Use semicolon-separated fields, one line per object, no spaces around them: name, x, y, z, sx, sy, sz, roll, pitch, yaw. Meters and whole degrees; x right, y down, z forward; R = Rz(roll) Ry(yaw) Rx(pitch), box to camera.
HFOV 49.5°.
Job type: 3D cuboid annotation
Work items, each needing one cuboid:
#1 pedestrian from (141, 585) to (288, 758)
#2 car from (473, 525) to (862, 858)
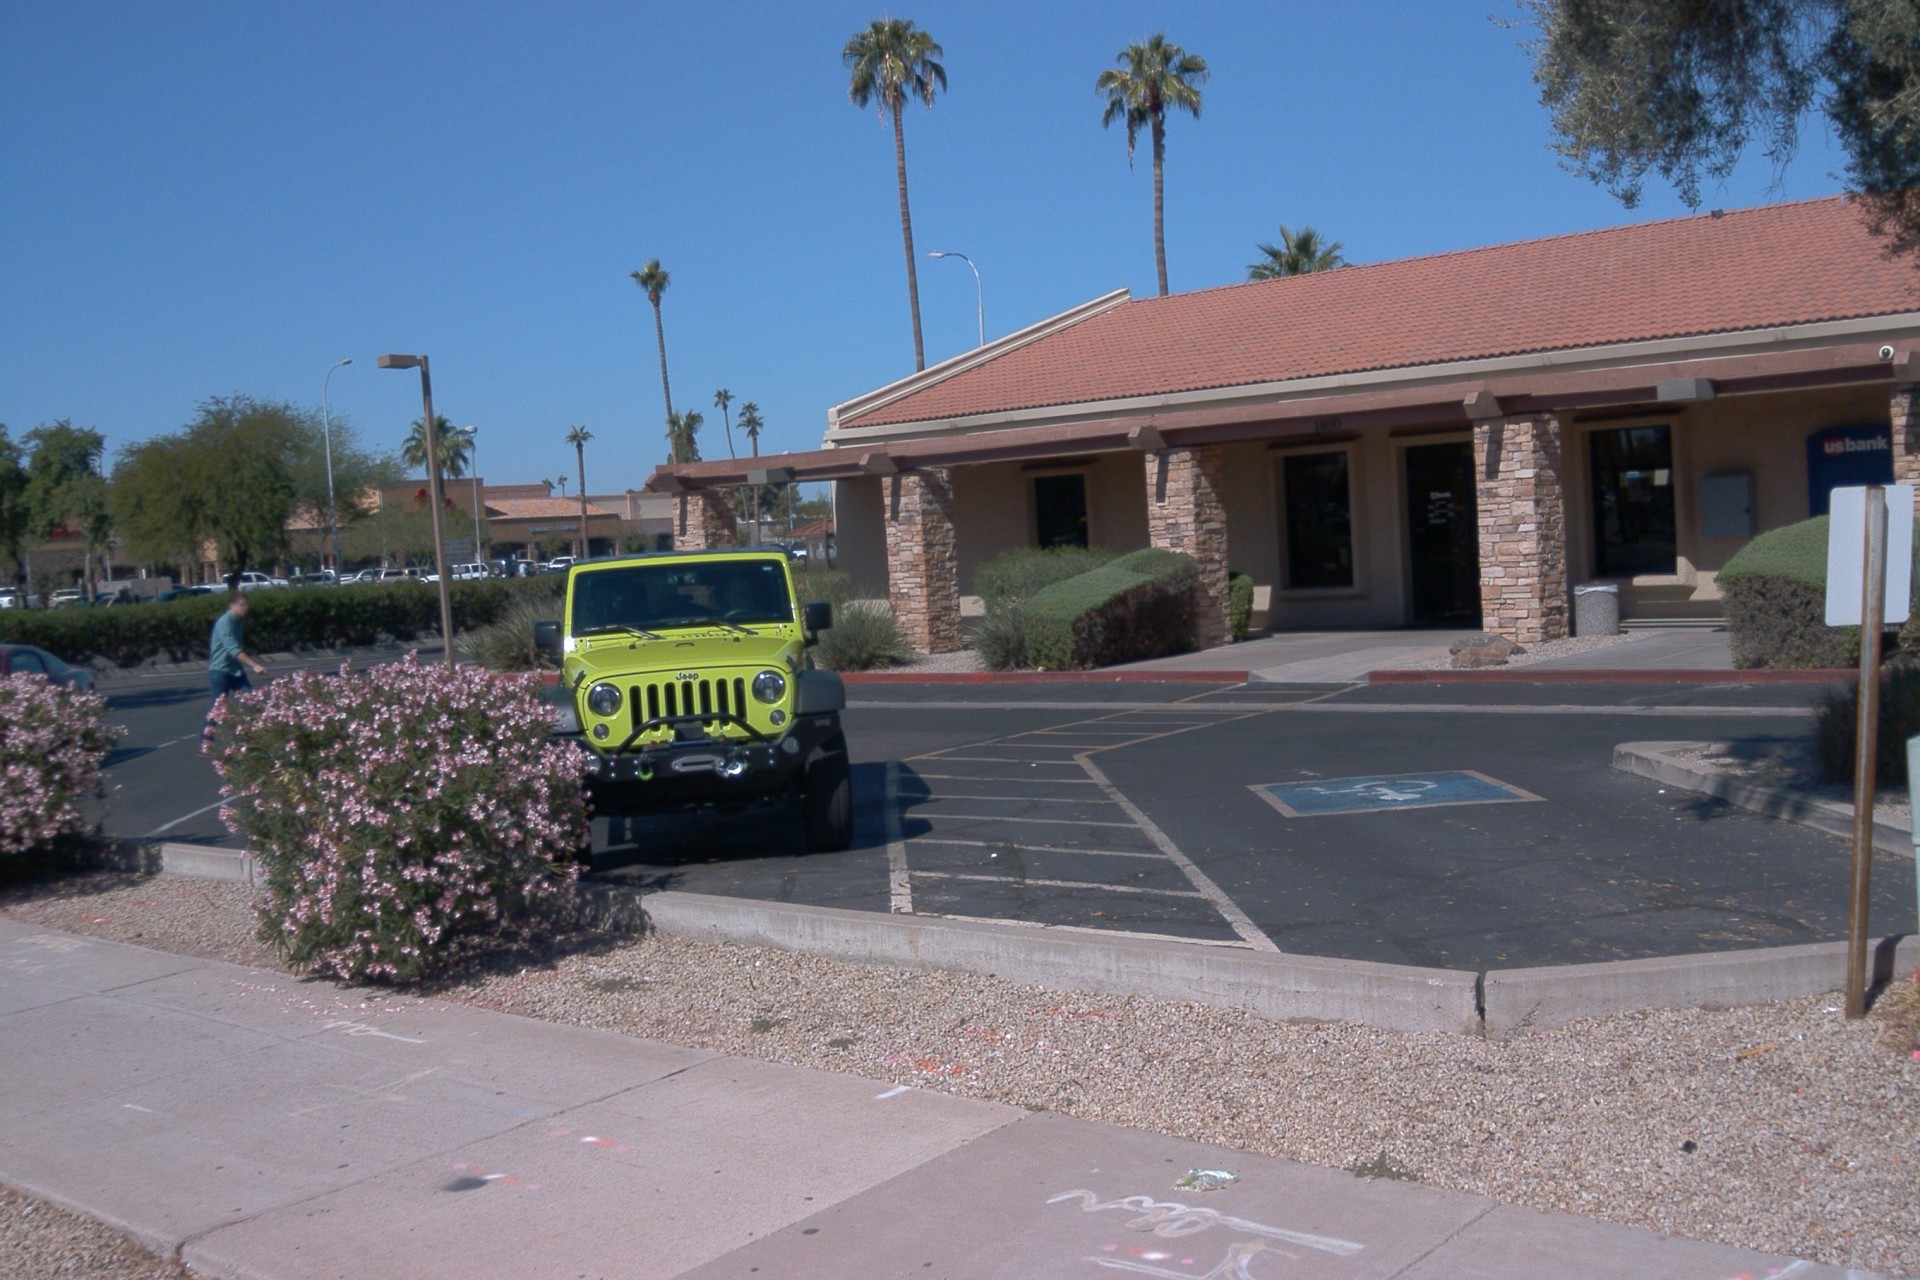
pedestrian;-8.000;0.340;22.388;1.175;1.800;0.973;-1;-1;6
car;-1.965;0.322;13.997;2.132;1.832;4.714;-1;-1;-8
